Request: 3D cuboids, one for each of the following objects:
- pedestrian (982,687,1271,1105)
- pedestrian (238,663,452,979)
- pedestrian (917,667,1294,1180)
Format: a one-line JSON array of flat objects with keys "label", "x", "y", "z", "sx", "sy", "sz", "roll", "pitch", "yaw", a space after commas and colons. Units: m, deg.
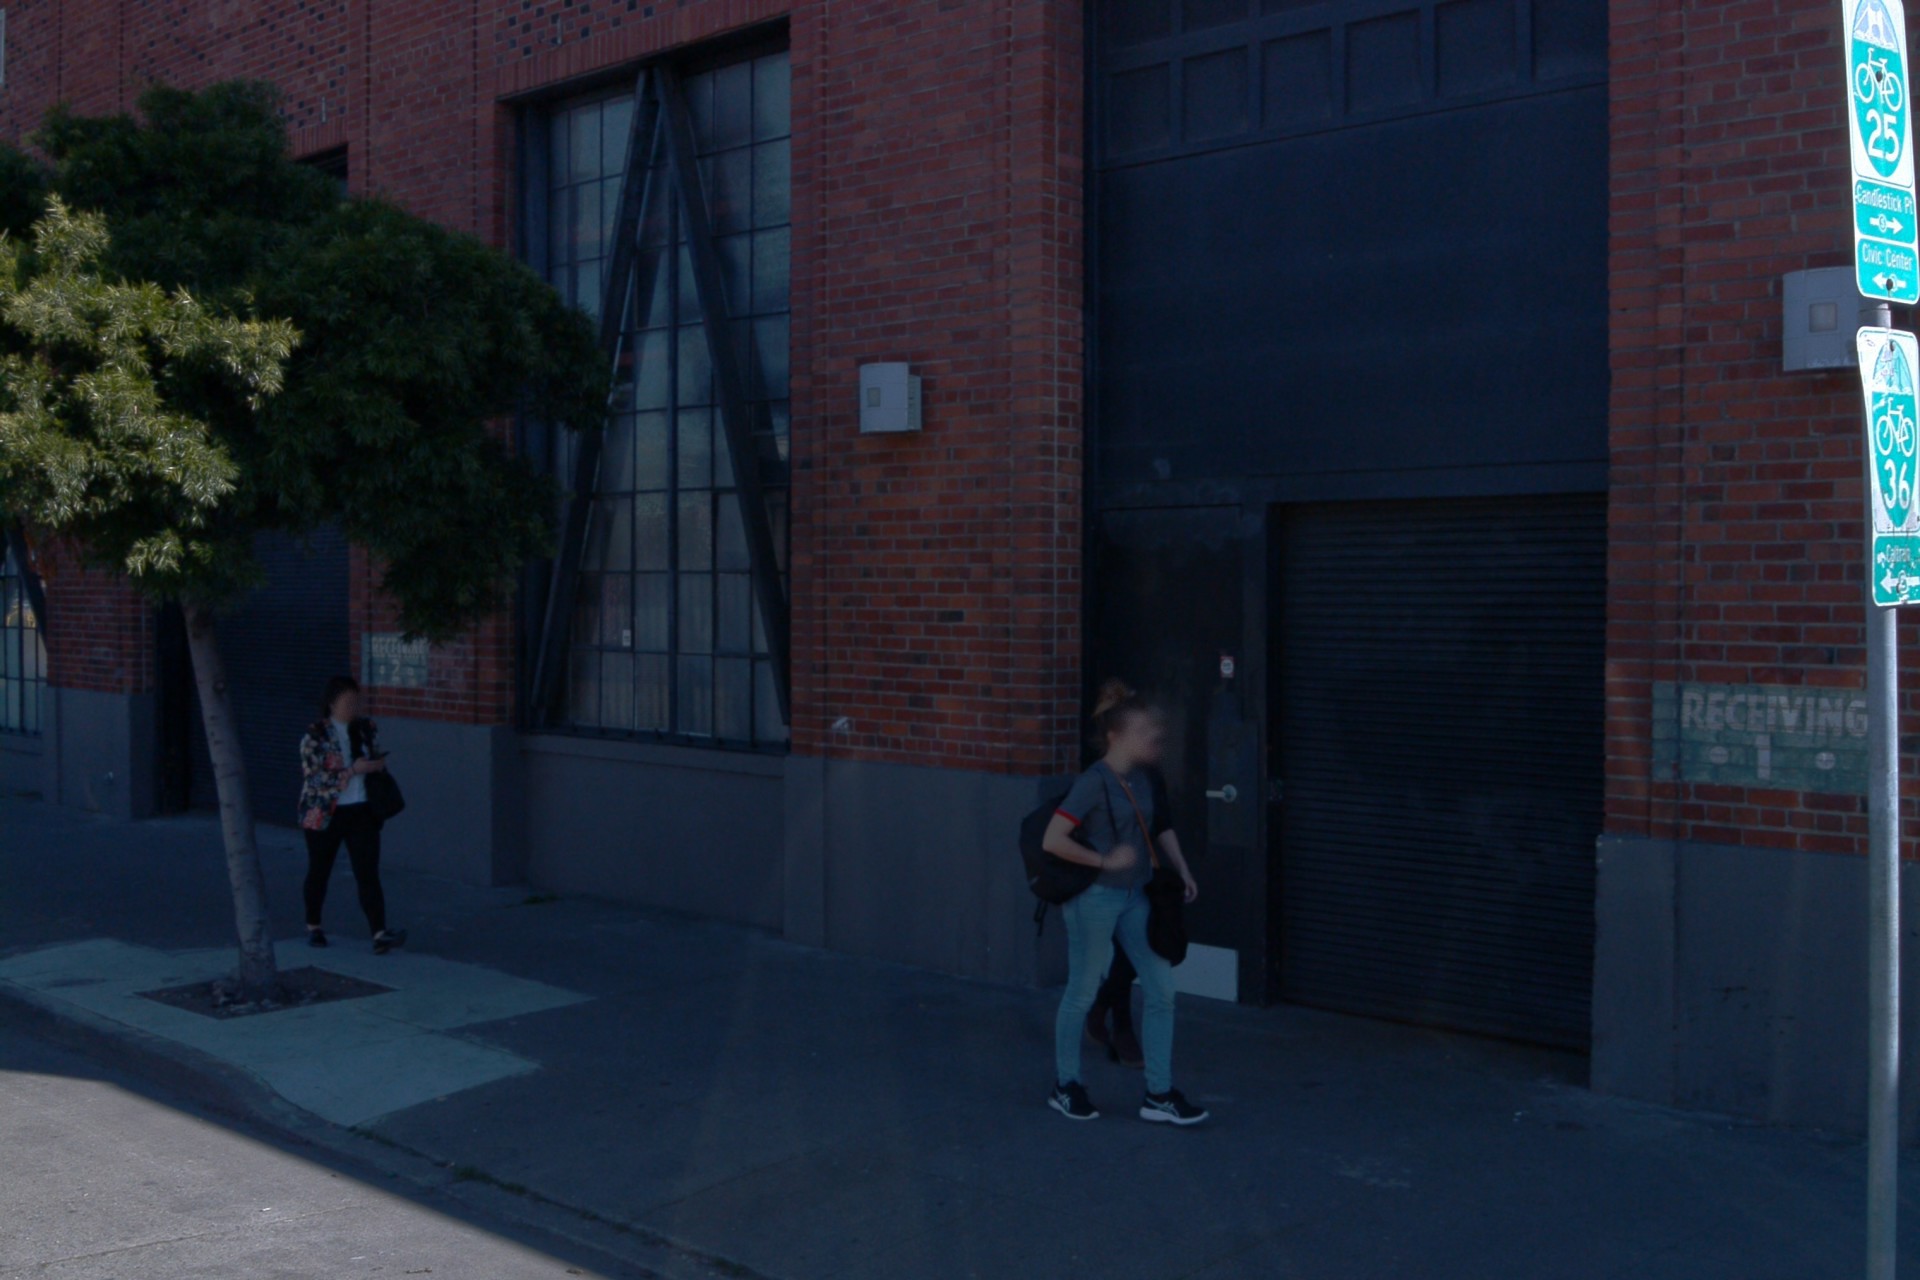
[{"label": "pedestrian", "x": 0.715, "y": 1.047, "z": 8.911, "sx": 0.810, "sy": 1.650, "sz": 0.924, "roll": 0, "pitch": 1, "yaw": -43}, {"label": "pedestrian", "x": -3.467, "y": 0.971, "z": 11.582, "sx": 0.957, "sy": 1.660, "sz": 0.780, "roll": 1, "pitch": 1, "yaw": 45}, {"label": "pedestrian", "x": 0.547, "y": 1.004, "z": 7.932, "sx": 0.857, "sy": 1.770, "sz": 1.155, "roll": 0, "pitch": 1, "yaw": -43}]
